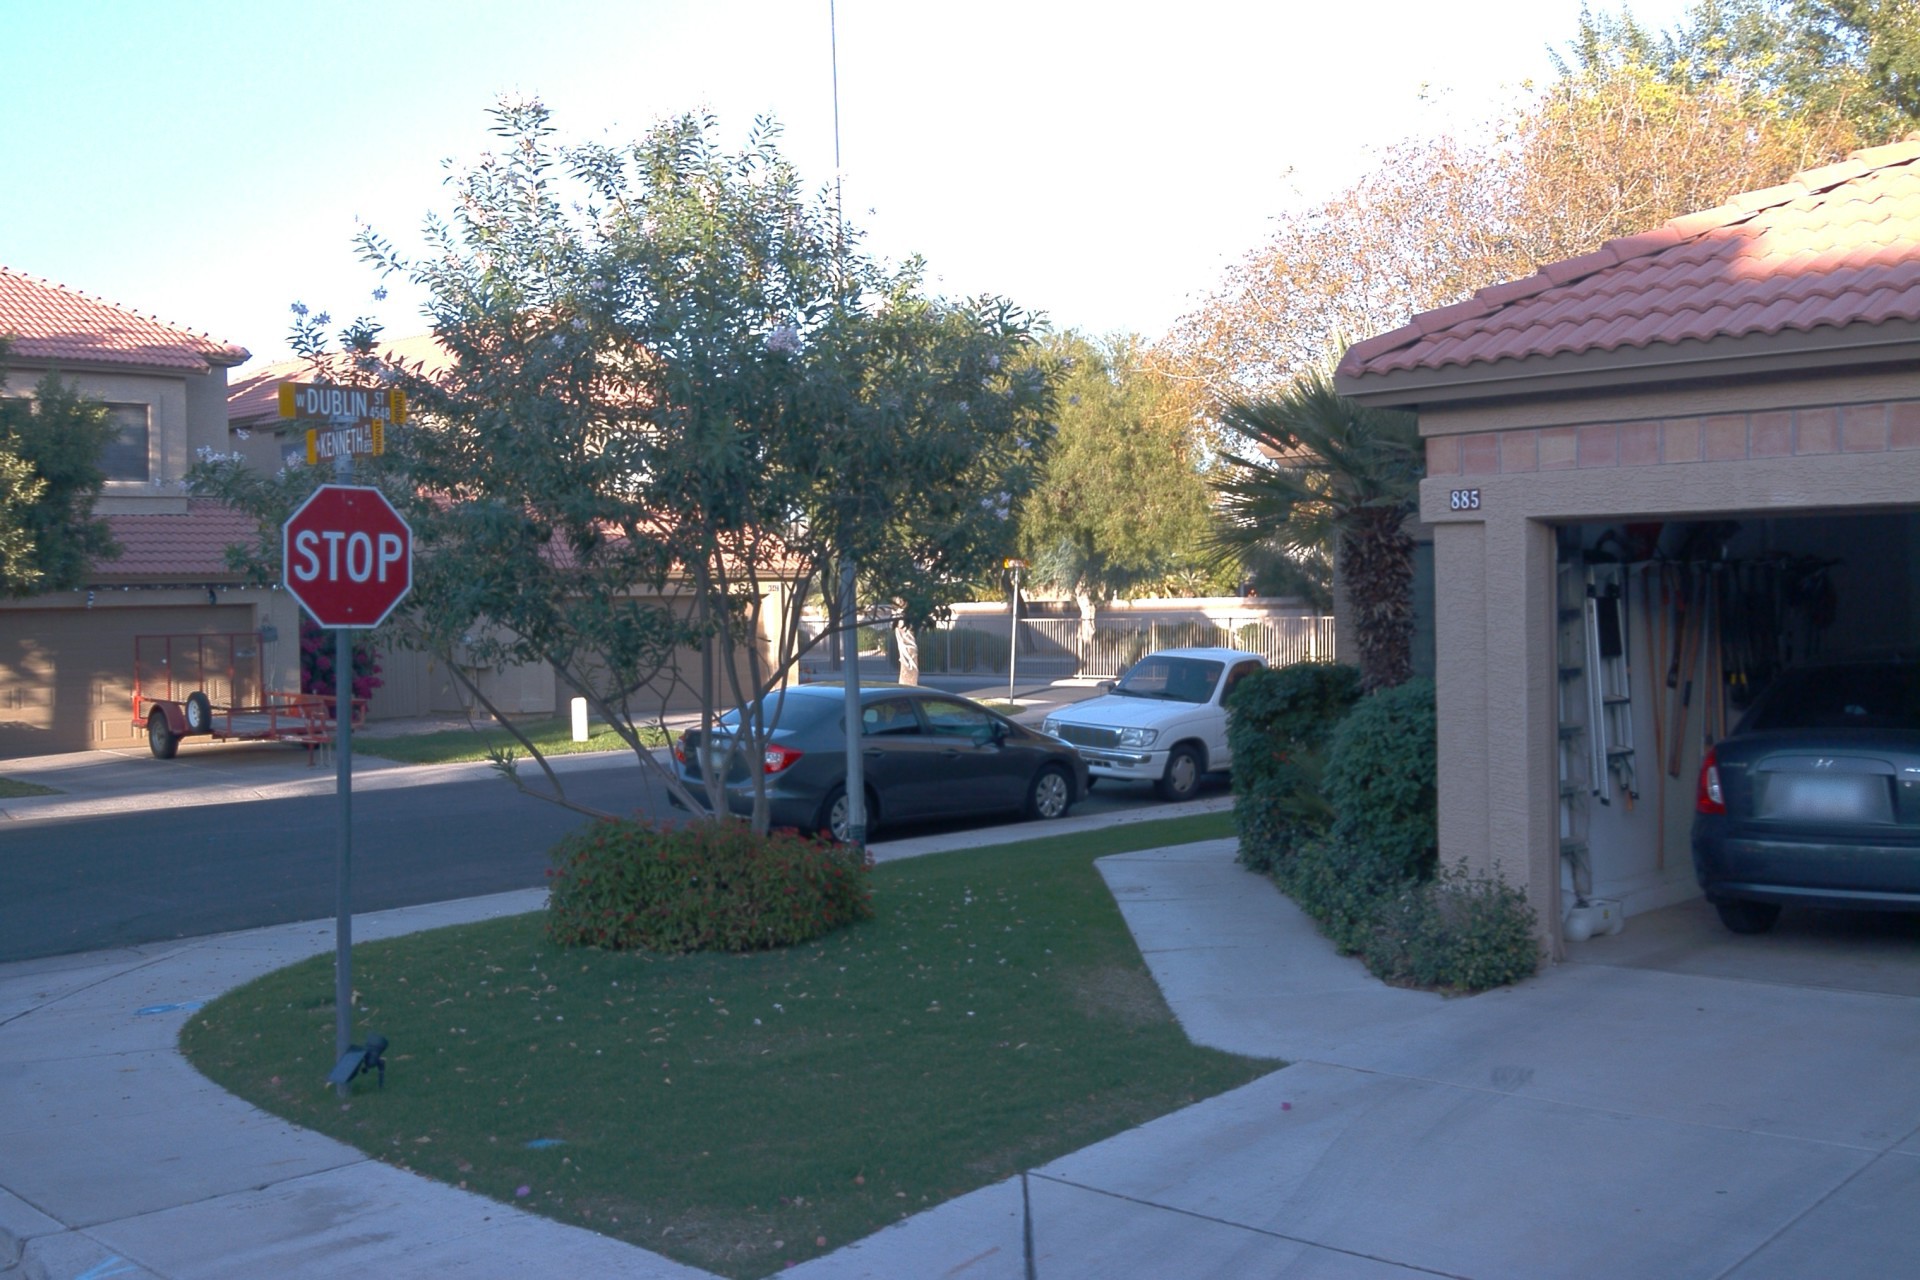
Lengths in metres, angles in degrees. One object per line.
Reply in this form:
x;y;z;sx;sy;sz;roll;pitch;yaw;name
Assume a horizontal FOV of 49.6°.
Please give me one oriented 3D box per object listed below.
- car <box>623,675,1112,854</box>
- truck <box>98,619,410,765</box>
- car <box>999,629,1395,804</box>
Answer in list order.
-0.777;1.087;19.799;2.054;1.470;4.462;0;-1;44;car
-10.054;0.694;29.428;2.622;1.900;4.348;1;-1;-43;truck
2.798;0.806;23.688;2.021;1.800;4.702;0;-1;44;car
